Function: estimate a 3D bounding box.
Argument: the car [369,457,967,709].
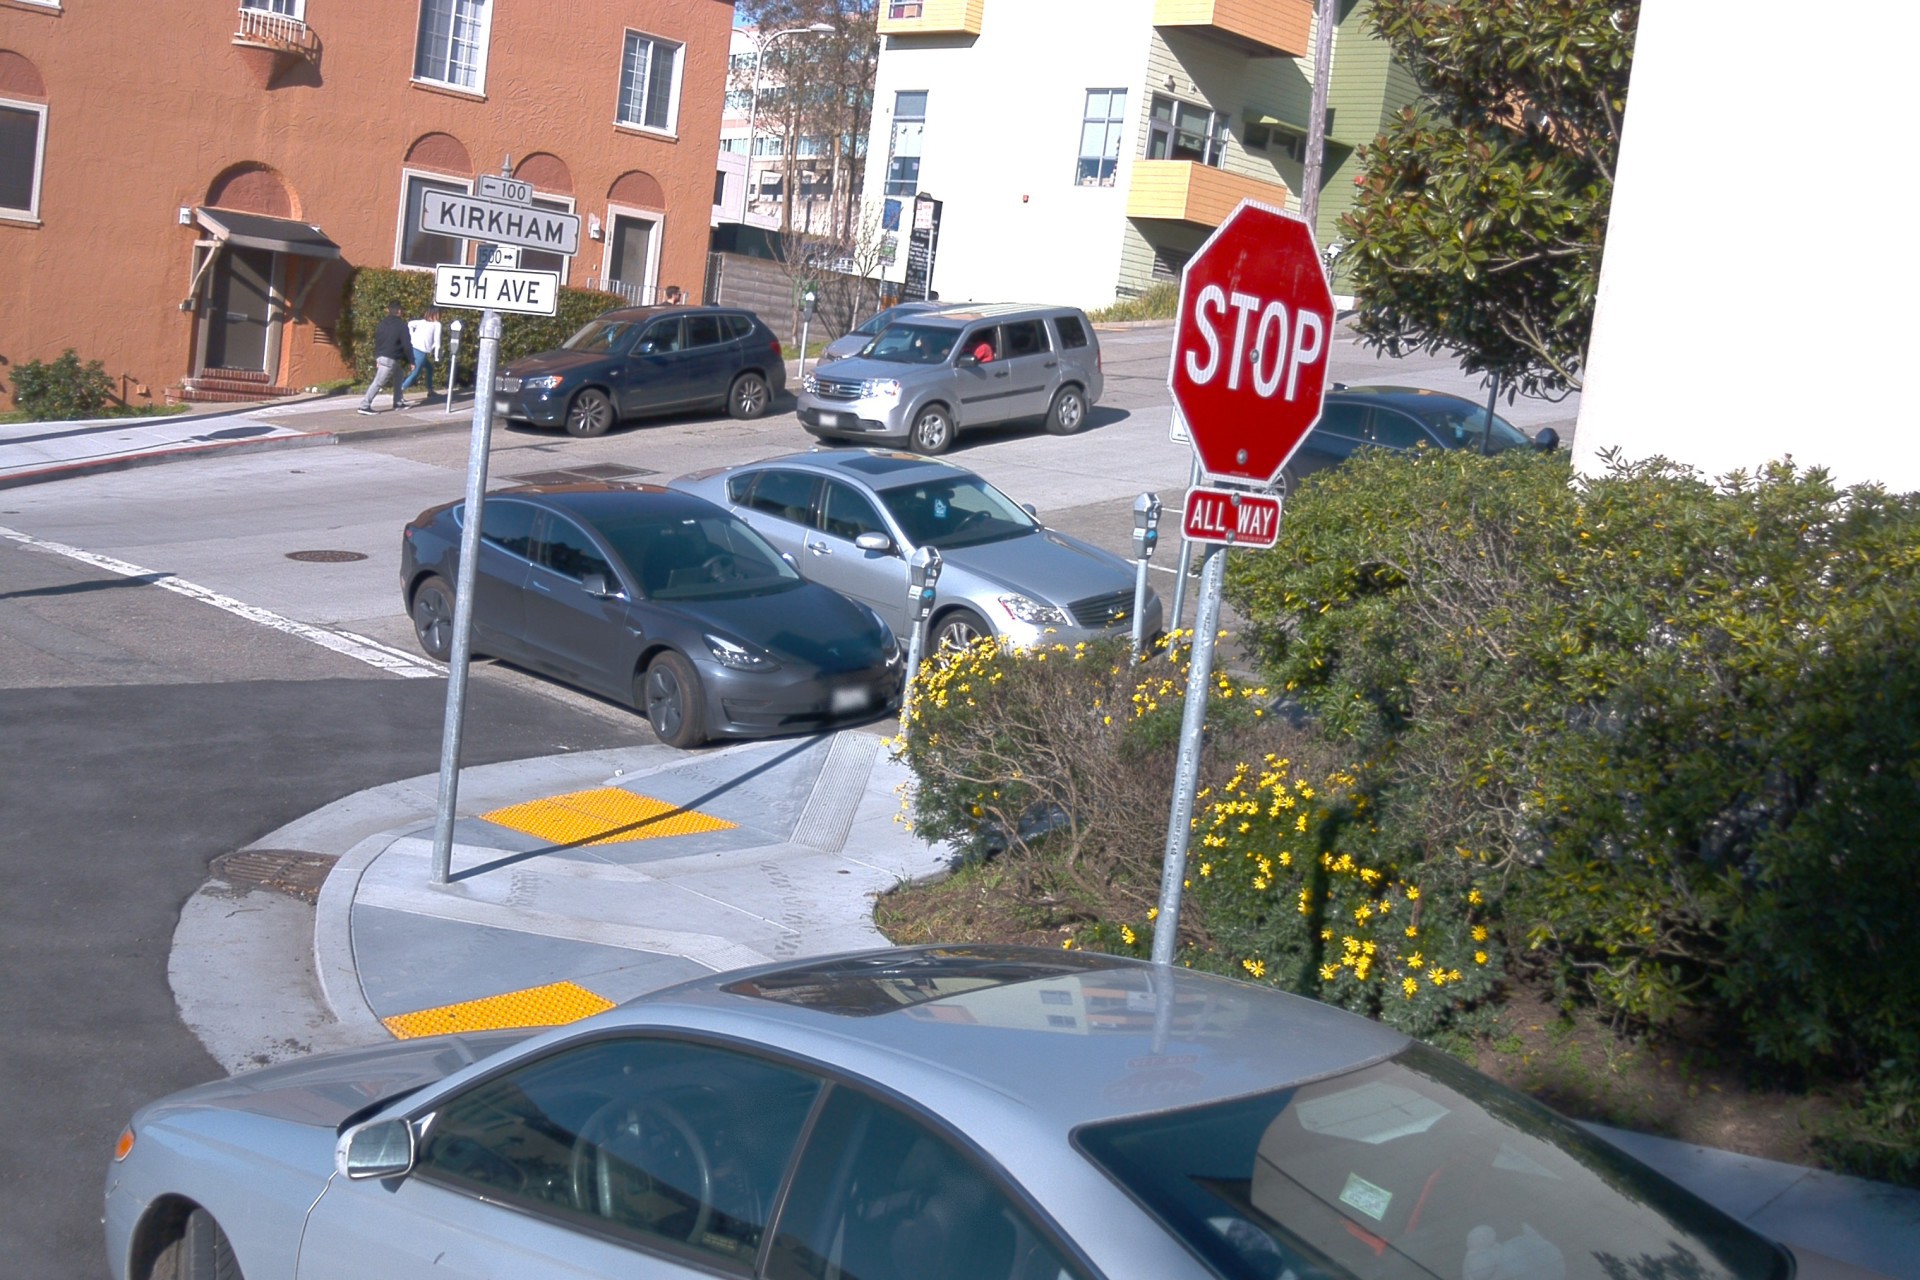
[{"bbox_3d":[-2.331,-0.365,15.817,4.636,1.620,2.044,0,0,44],"label":"car"}]

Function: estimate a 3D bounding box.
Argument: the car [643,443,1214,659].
[{"bbox_3d":[-0.366,-0.647,17.502,4.561,1.560,2.064,0,0,42],"label":"car"}]
